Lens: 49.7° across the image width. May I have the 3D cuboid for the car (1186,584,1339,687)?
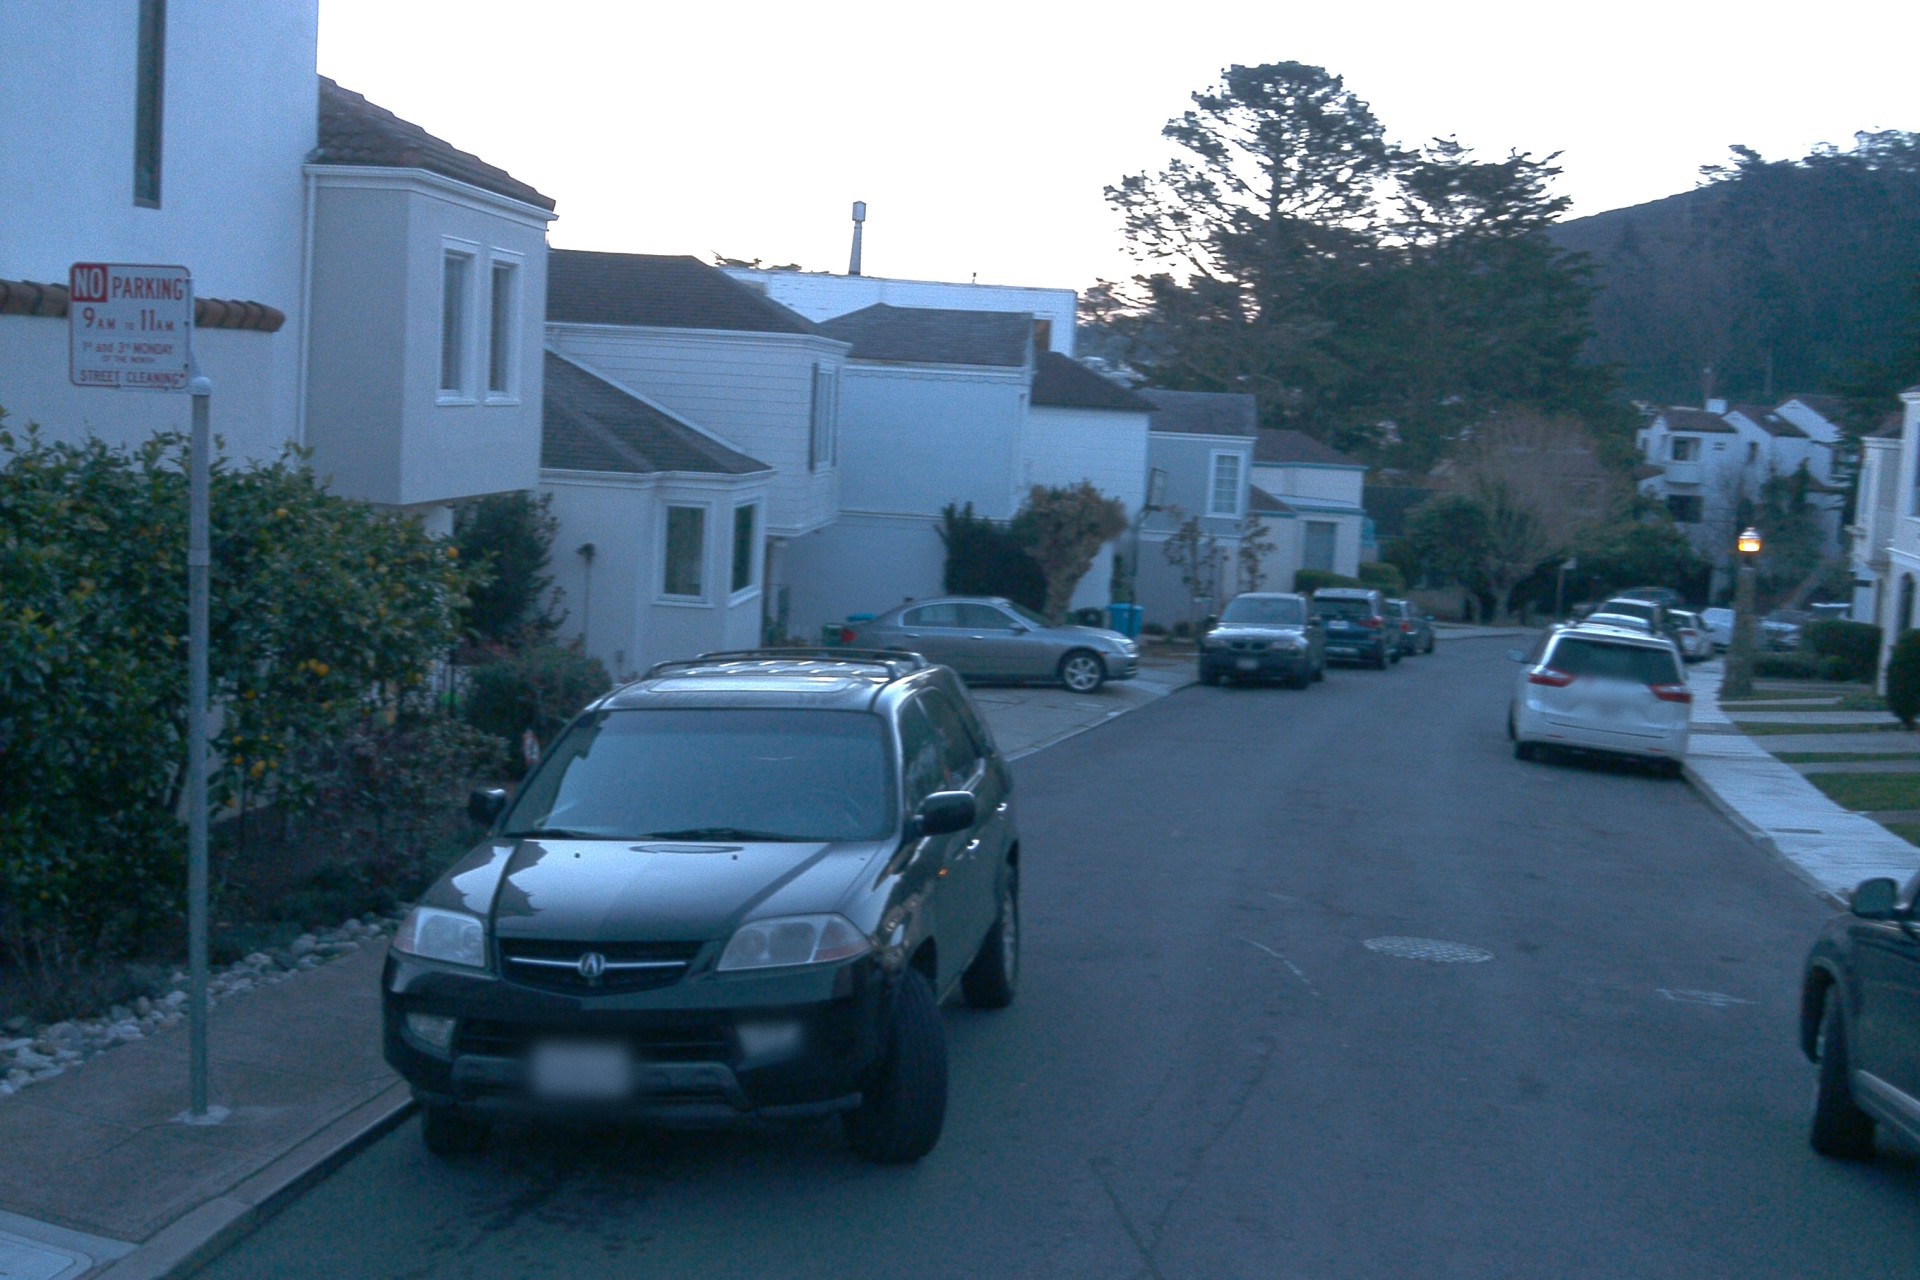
[{"bbox_3d":[5.524,-0.085,37.367,2.087,1.740,4.544,0,0,16],"label":"car"}]

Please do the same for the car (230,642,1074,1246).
[{"bbox_3d":[-0.897,0.968,9.114,2.320,1.880,4.877,0,0,8],"label":"car"}]

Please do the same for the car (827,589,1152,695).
[{"bbox_3d":[0.501,0.039,32.245,4.757,1.580,1.994,0,0,10],"label":"car"}]

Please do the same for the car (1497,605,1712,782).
[{"bbox_3d":[8.196,0.614,26.815,2.368,2.050,5.092,0,0,14],"label":"car"}]
